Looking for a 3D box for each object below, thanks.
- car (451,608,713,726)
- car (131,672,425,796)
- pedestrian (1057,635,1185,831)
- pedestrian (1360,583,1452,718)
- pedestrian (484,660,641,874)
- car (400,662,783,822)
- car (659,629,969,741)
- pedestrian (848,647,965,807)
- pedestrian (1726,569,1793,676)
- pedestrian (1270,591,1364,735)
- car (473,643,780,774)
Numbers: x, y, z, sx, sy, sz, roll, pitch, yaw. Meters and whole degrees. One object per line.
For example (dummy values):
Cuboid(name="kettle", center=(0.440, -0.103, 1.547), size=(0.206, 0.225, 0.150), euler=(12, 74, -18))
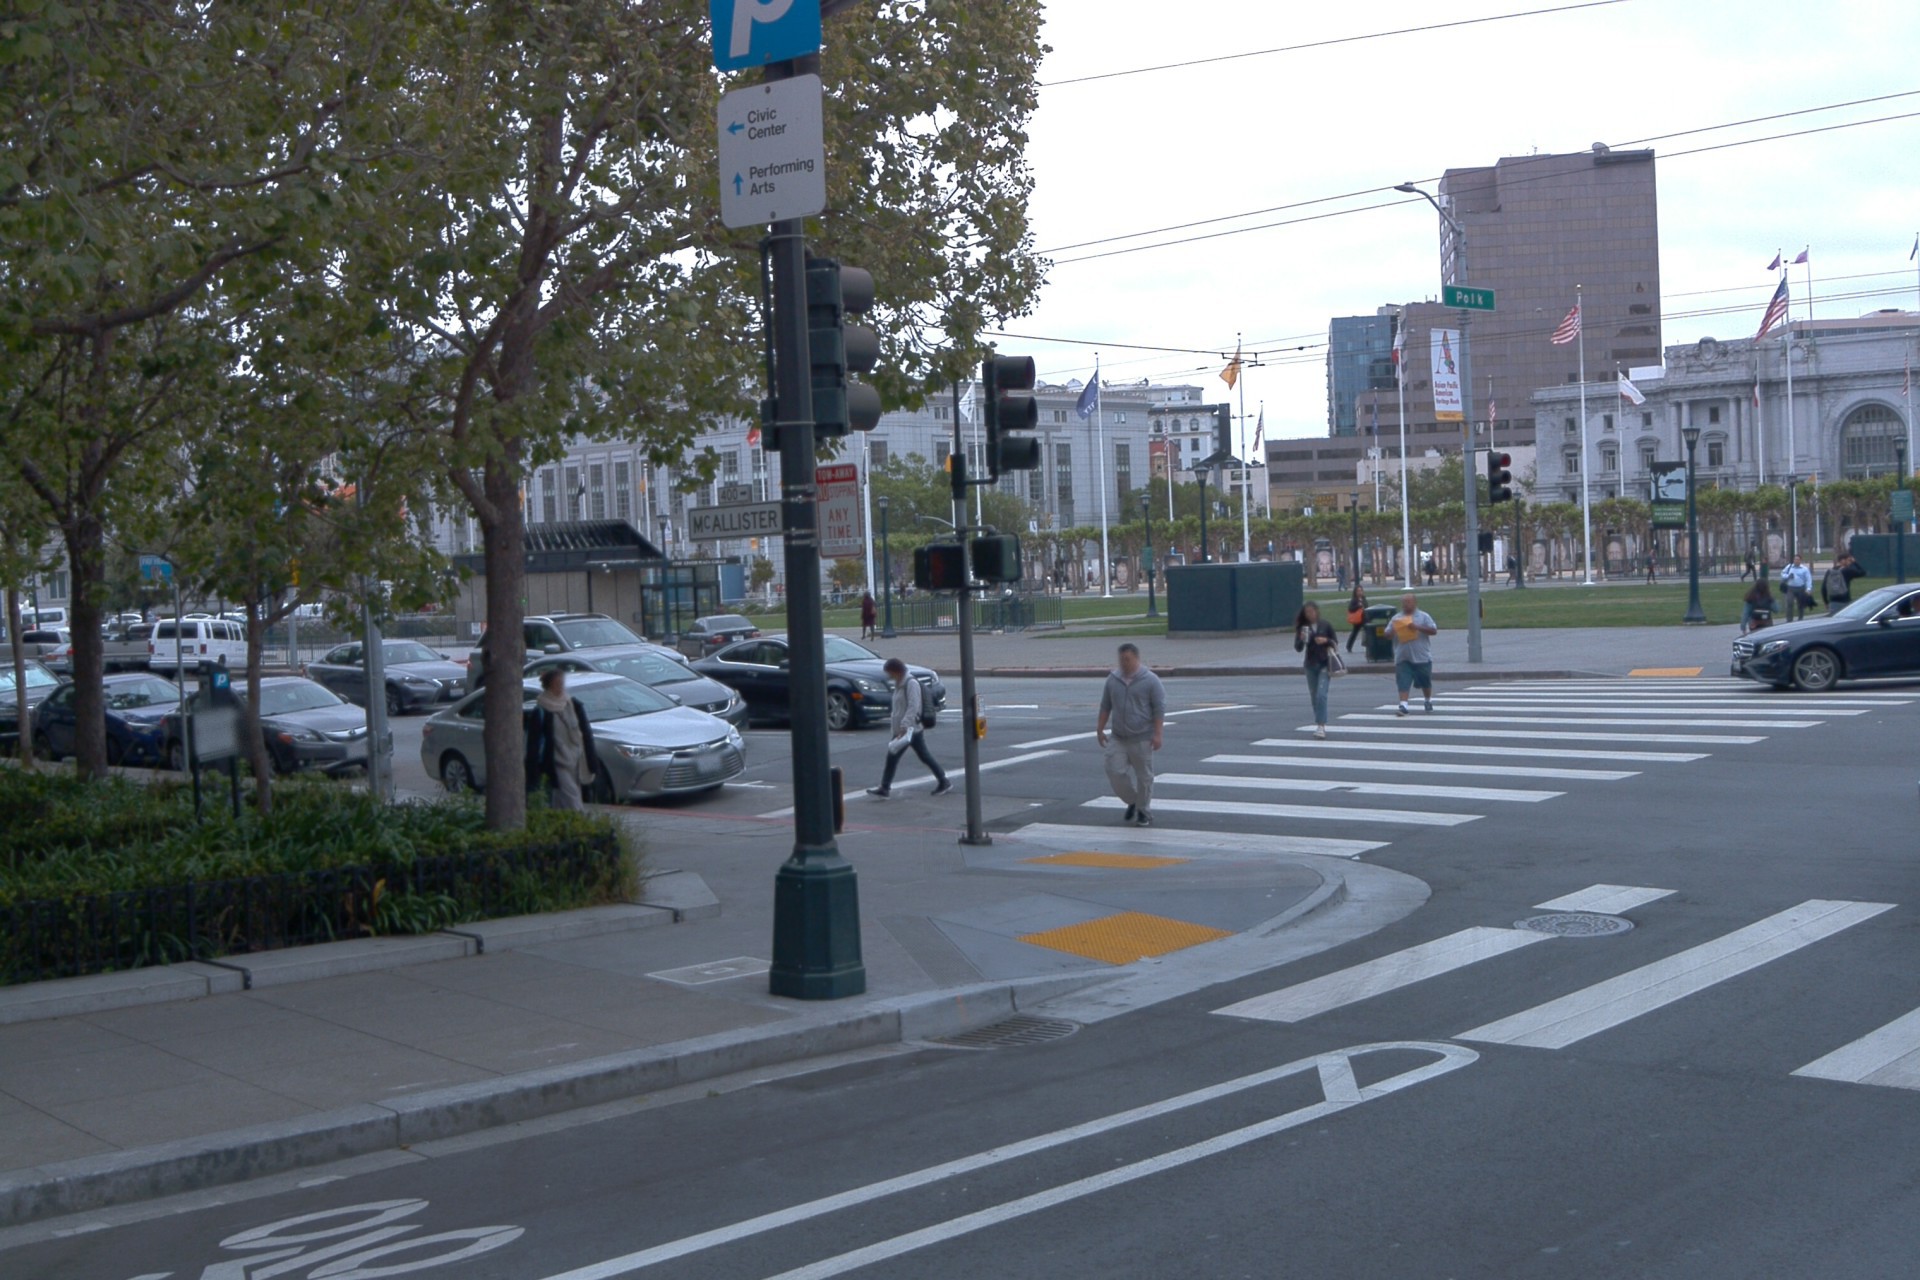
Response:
Cuboid(name="car", center=(-6.590, 0.396, 35.702), size=(4.650, 1.900, 2.138), euler=(1, 1, 44))
Cuboid(name="car", center=(-9.956, 1.296, 29.960), size=(4.666, 1.500, 2.130), euler=(1, 1, 44))
Cuboid(name="pedestrian", center=(1.506, 0.836, 19.196), size=(0.852, 1.742, 1.083), euler=(0, 1, 25))
Cuboid(name="pedestrian", center=(6.000, 0.130, 27.716), size=(0.994, 1.764, 1.162), euler=(0, 1, 23))
Cuboid(name="pedestrian", center=(-3.454, 1.067, 17.939), size=(0.937, 1.754, 1.034), euler=(-1, 1, -41))
Cuboid(name="car", center=(-4.494, 1.132, 24.700), size=(4.754, 1.590, 2.139), euler=(1, 1, 44))
Cuboid(name="car", center=(-2.224, 0.604, 30.657), size=(4.497, 1.490, 2.027), euler=(1, 1, 42))
Cuboid(name="pedestrian", center=(-0.585, 0.916, 22.361), size=(0.860, 1.657, 1.008), euler=(-1, 1, -33))
Cuboid(name="pedestrian", center=(13.228, -0.300, 34.143), size=(0.789, 1.734, 0.970), euler=(1, 1, 37))
Cuboid(name="pedestrian", center=(4.390, 0.265, 25.355), size=(0.909, 1.724, 0.994), euler=(0, 1, 24))
Cuboid(name="car", center=(-4.813, 0.901, 29.399), size=(2.084, 1.630, 4.523), euler=(-1, 1, -44))
